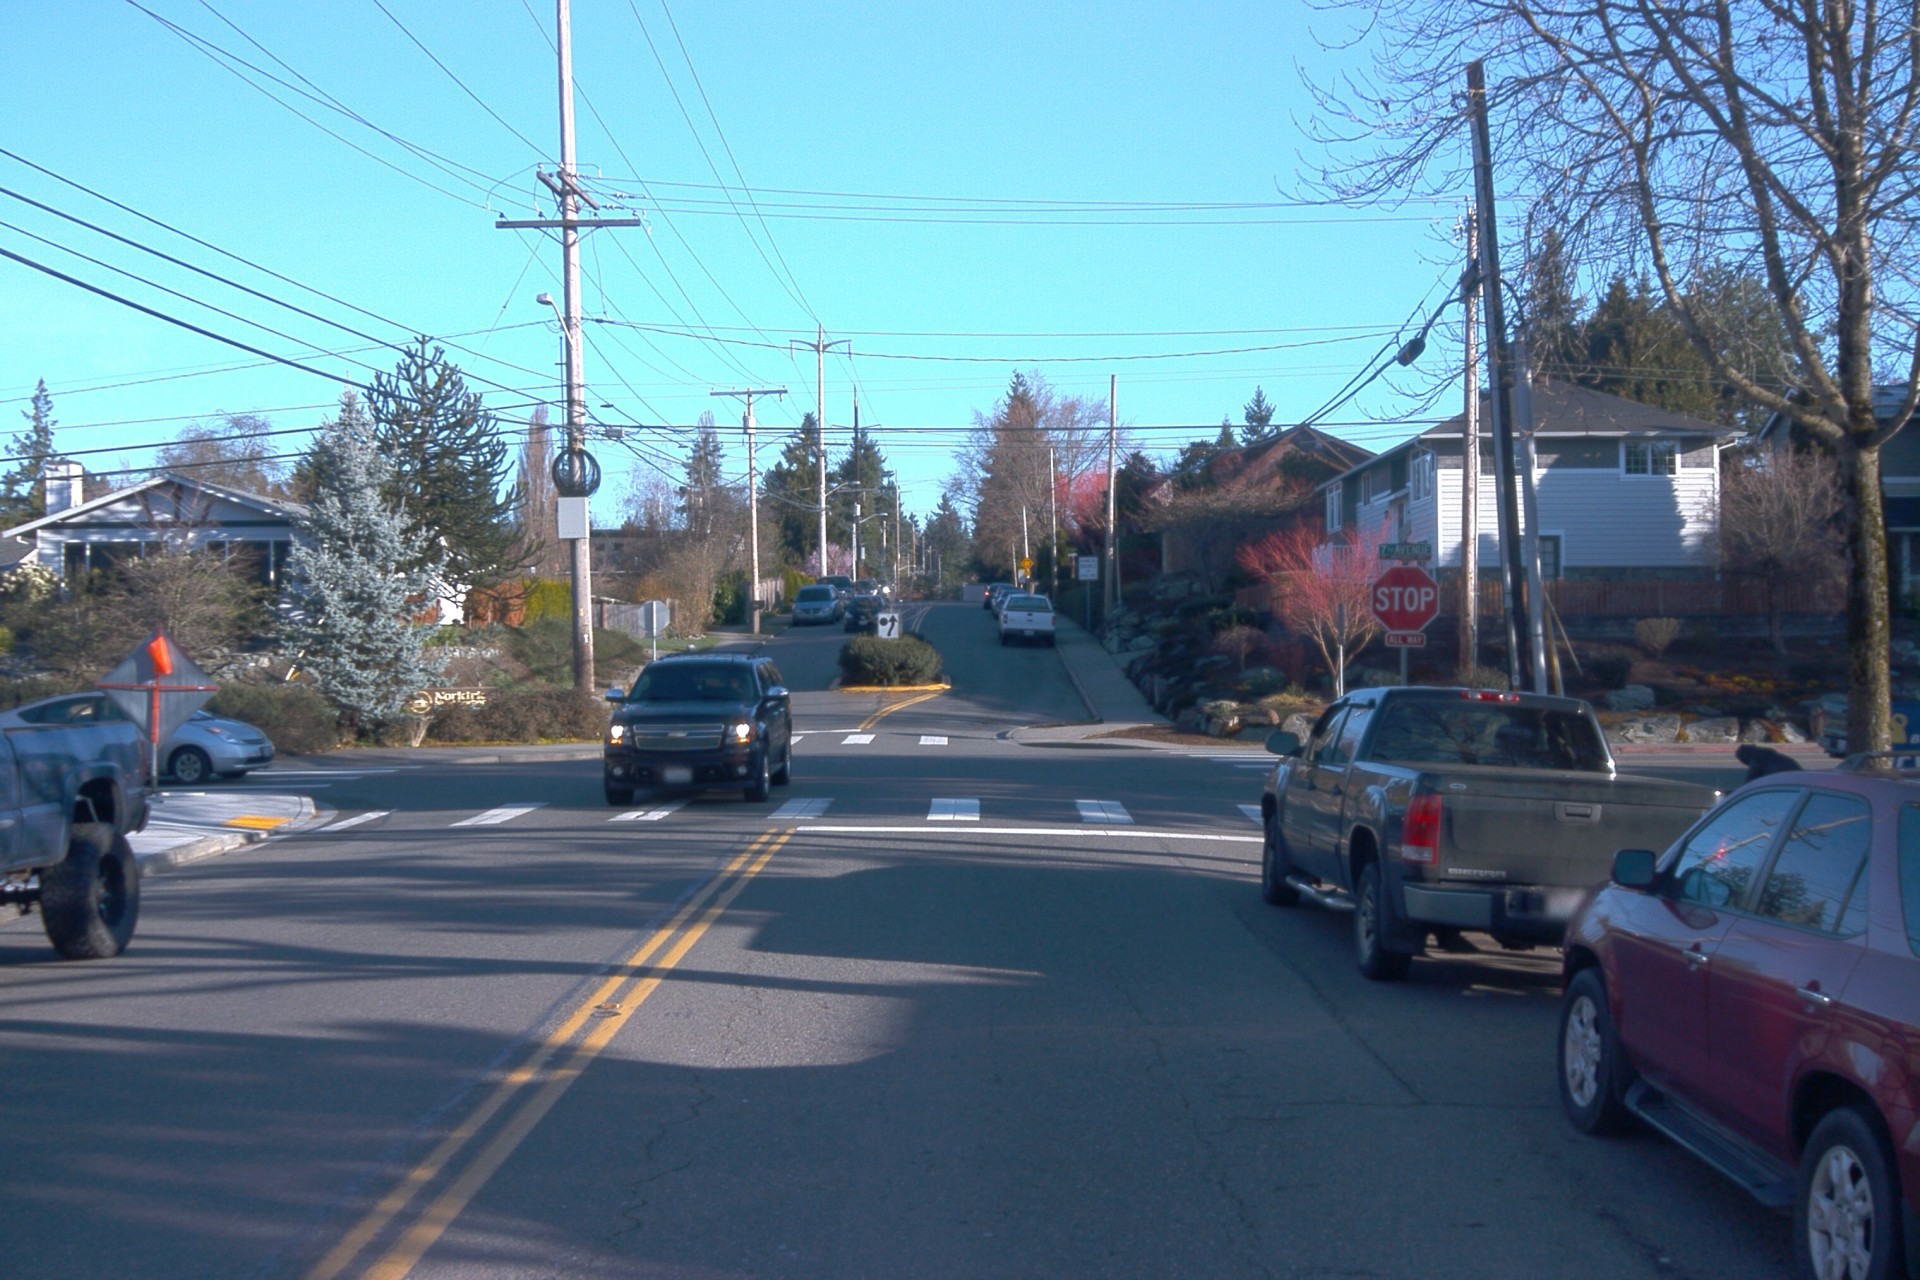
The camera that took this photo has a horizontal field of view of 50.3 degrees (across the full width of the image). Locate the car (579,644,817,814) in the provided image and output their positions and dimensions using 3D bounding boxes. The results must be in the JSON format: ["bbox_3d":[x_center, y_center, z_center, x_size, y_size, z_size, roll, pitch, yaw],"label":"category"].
[{"bbox_3d":[-3.408,1.095,27.804,2.500,2.010,5.434,1,0,0],"label":"car"}]

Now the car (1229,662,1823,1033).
[{"bbox_3d":[3.584,1.206,14.488,2.530,1.950,5.913,1,0,0],"label":"car"}]
